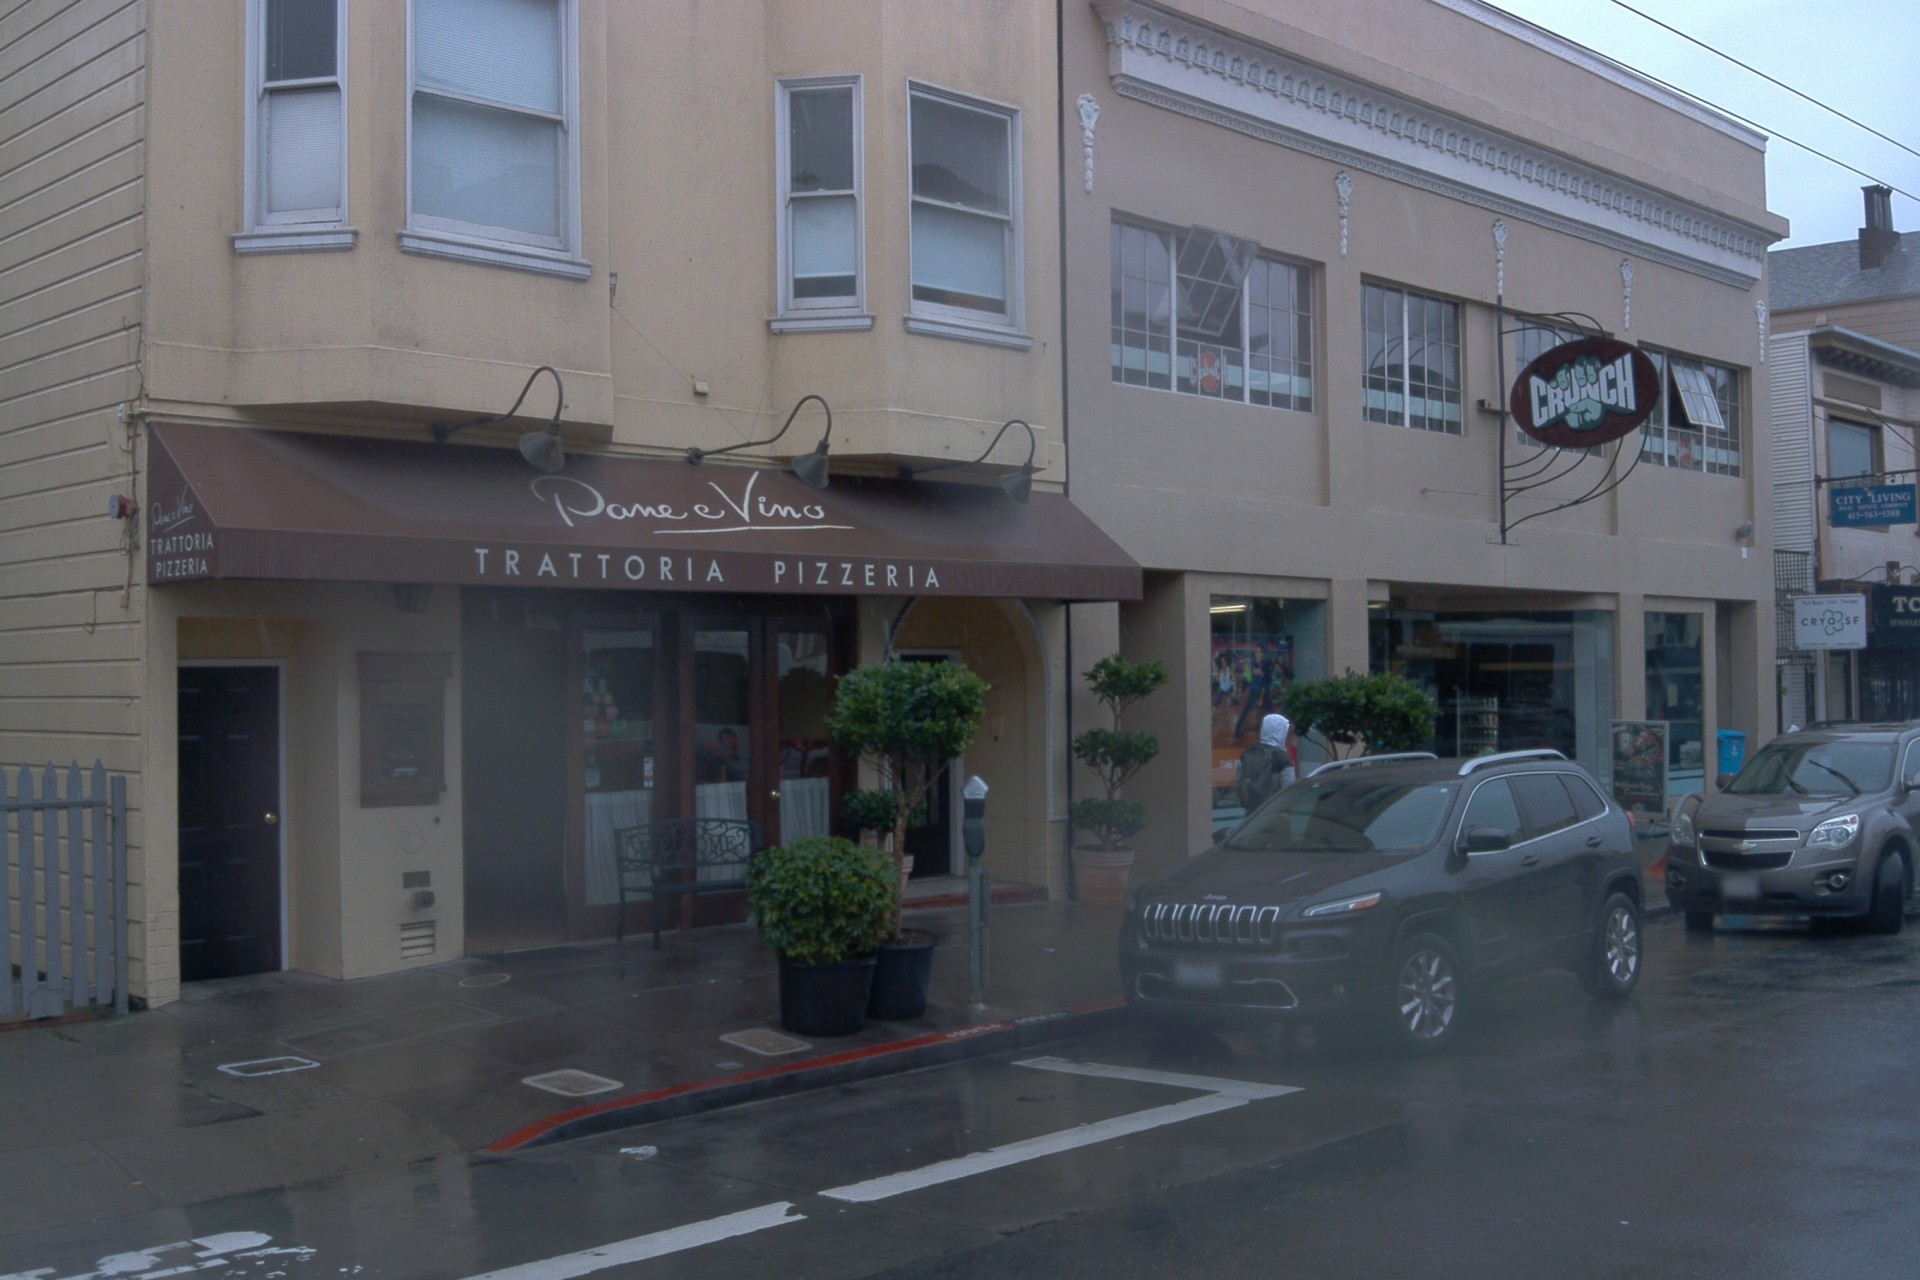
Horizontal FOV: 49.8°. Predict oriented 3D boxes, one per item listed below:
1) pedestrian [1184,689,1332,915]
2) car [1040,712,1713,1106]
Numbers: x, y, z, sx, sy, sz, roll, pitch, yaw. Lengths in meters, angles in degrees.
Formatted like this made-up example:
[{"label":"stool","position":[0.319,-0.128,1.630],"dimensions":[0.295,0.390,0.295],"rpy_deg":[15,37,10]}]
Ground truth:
[{"label":"pedestrian","position":[2.515,1.331,17.421],"dimensions":[0.729,1.800,1.056],"rpy_deg":[2,1,43]},{"label":"car","position":[2.863,1.484,13.264],"dimensions":[2.113,1.830,4.891],"rpy_deg":[2,1,40]}]
